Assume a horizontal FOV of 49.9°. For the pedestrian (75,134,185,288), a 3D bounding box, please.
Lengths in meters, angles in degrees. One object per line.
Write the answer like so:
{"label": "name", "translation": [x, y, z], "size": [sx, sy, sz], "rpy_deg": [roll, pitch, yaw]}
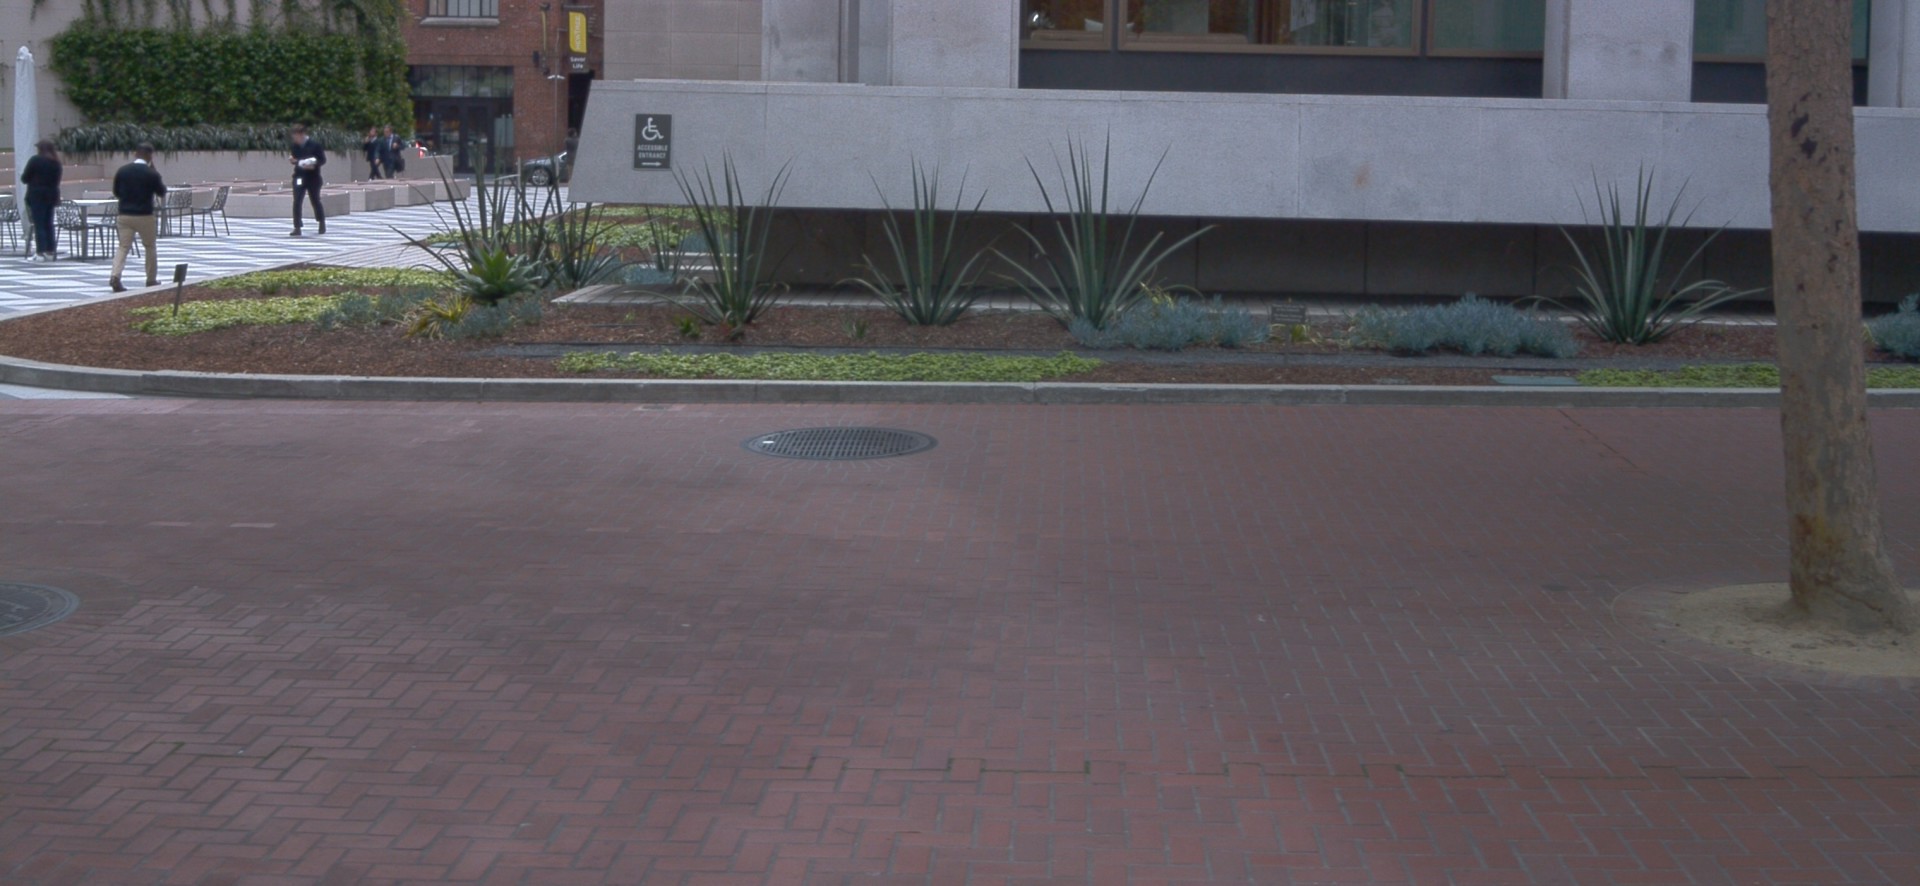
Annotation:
{"label": "pedestrian", "translation": [-8.982, -2.508, 22.370], "size": [0.759, 1.640, 1.017], "rpy_deg": [0, 1, 2]}

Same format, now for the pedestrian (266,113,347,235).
{"label": "pedestrian", "translation": [-10.615, -4.358, 33.543], "size": [0.996, 1.941, 1.039], "rpy_deg": [0, 1, -1]}
